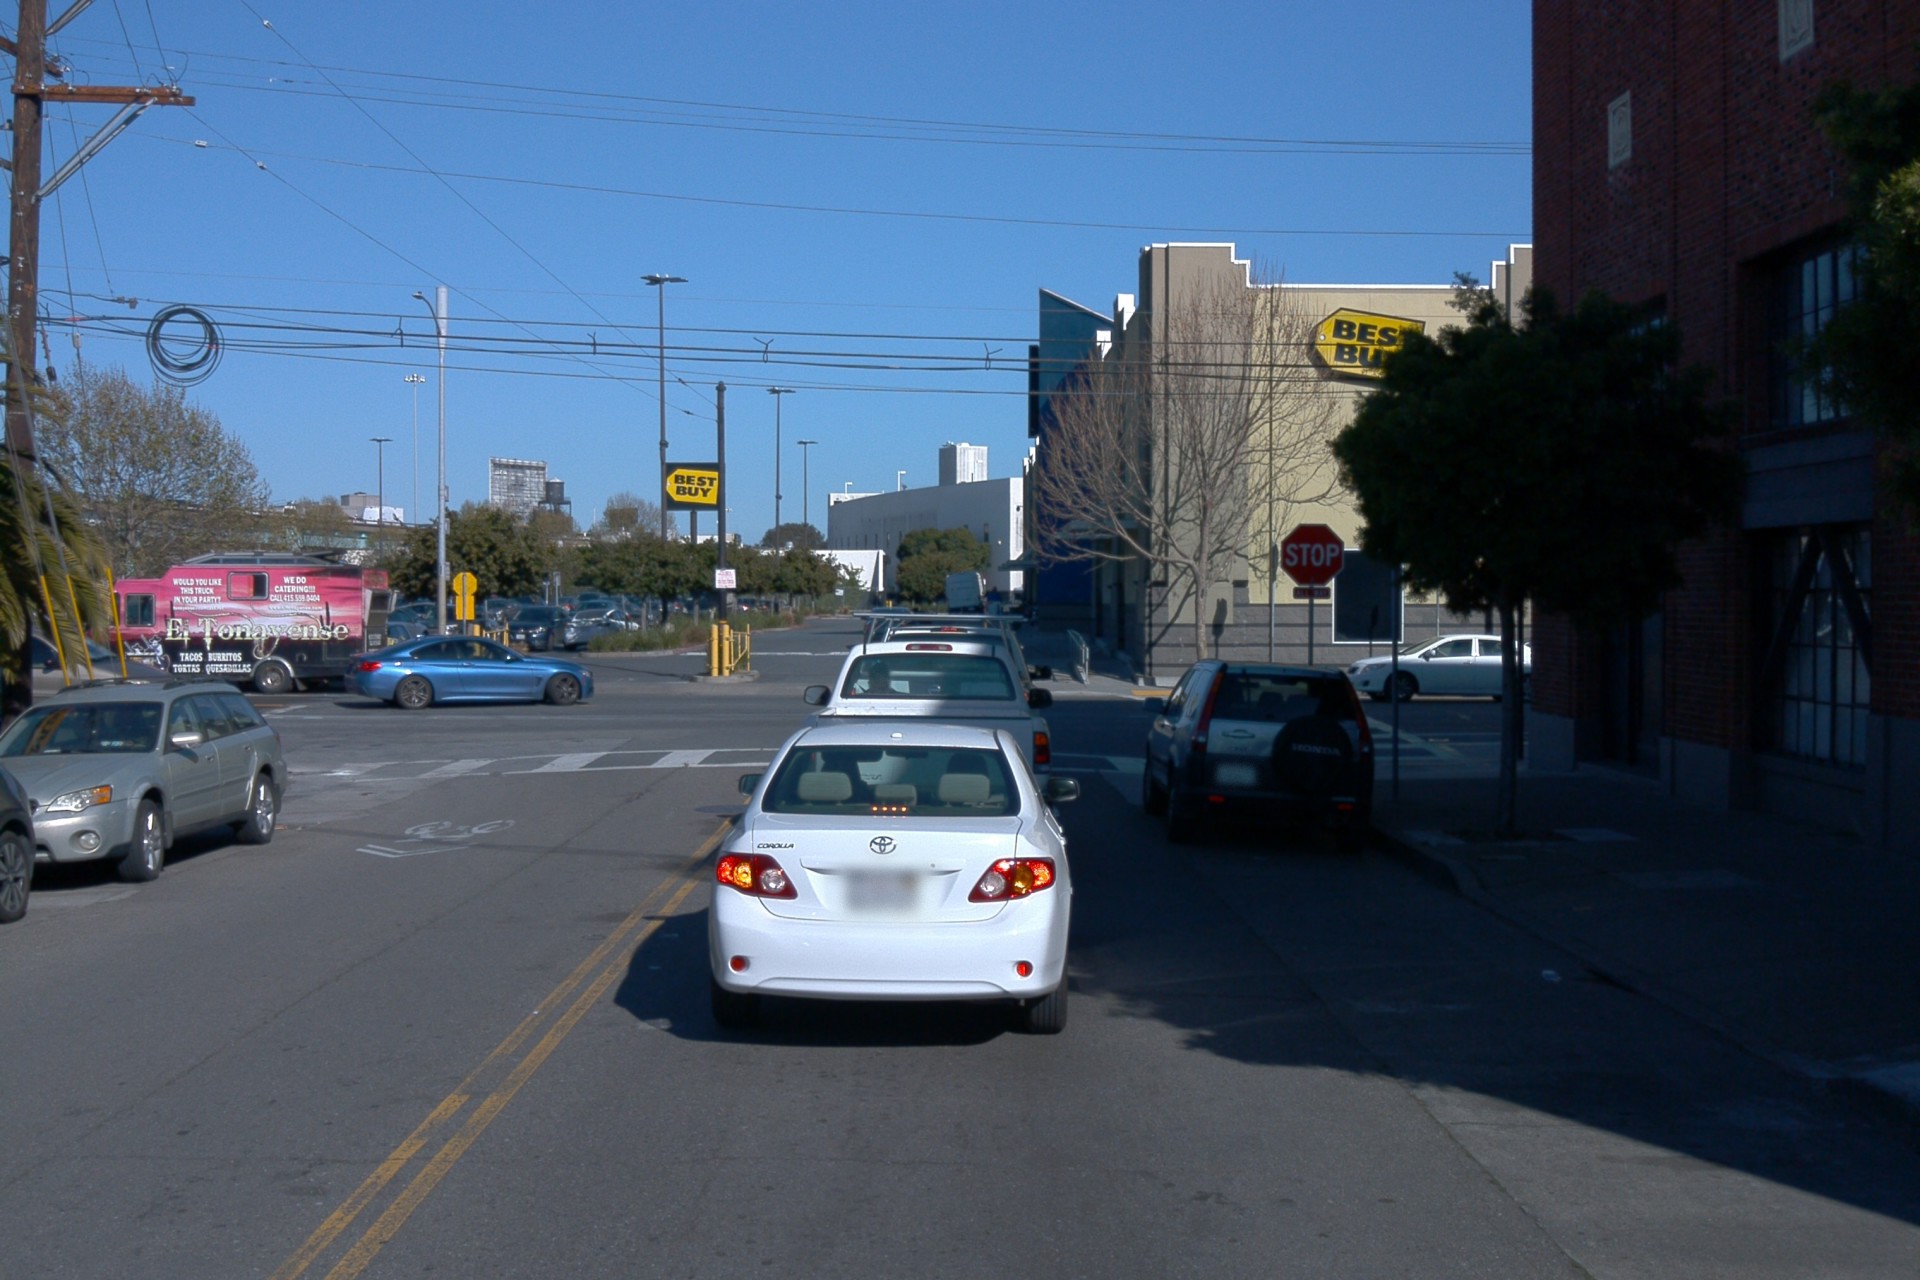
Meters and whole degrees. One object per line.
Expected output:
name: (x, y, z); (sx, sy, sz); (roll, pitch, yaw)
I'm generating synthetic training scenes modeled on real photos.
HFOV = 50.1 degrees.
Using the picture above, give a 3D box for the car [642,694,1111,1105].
car: (-0.331, 1.203, 11.325); (2.045, 1.580, 4.504); (1, 1, 1)

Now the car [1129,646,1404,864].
car: (2.775, 0.979, 19.571); (2.017, 1.730, 4.285); (1, 1, 1)

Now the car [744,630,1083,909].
car: (-0.328, 0.907, 17.424); (2.386, 1.880, 5.557); (1, 1, 0)

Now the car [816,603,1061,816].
car: (-0.090, 0.663, 23.855); (2.386, 2.140, 5.556); (1, 1, 4)
